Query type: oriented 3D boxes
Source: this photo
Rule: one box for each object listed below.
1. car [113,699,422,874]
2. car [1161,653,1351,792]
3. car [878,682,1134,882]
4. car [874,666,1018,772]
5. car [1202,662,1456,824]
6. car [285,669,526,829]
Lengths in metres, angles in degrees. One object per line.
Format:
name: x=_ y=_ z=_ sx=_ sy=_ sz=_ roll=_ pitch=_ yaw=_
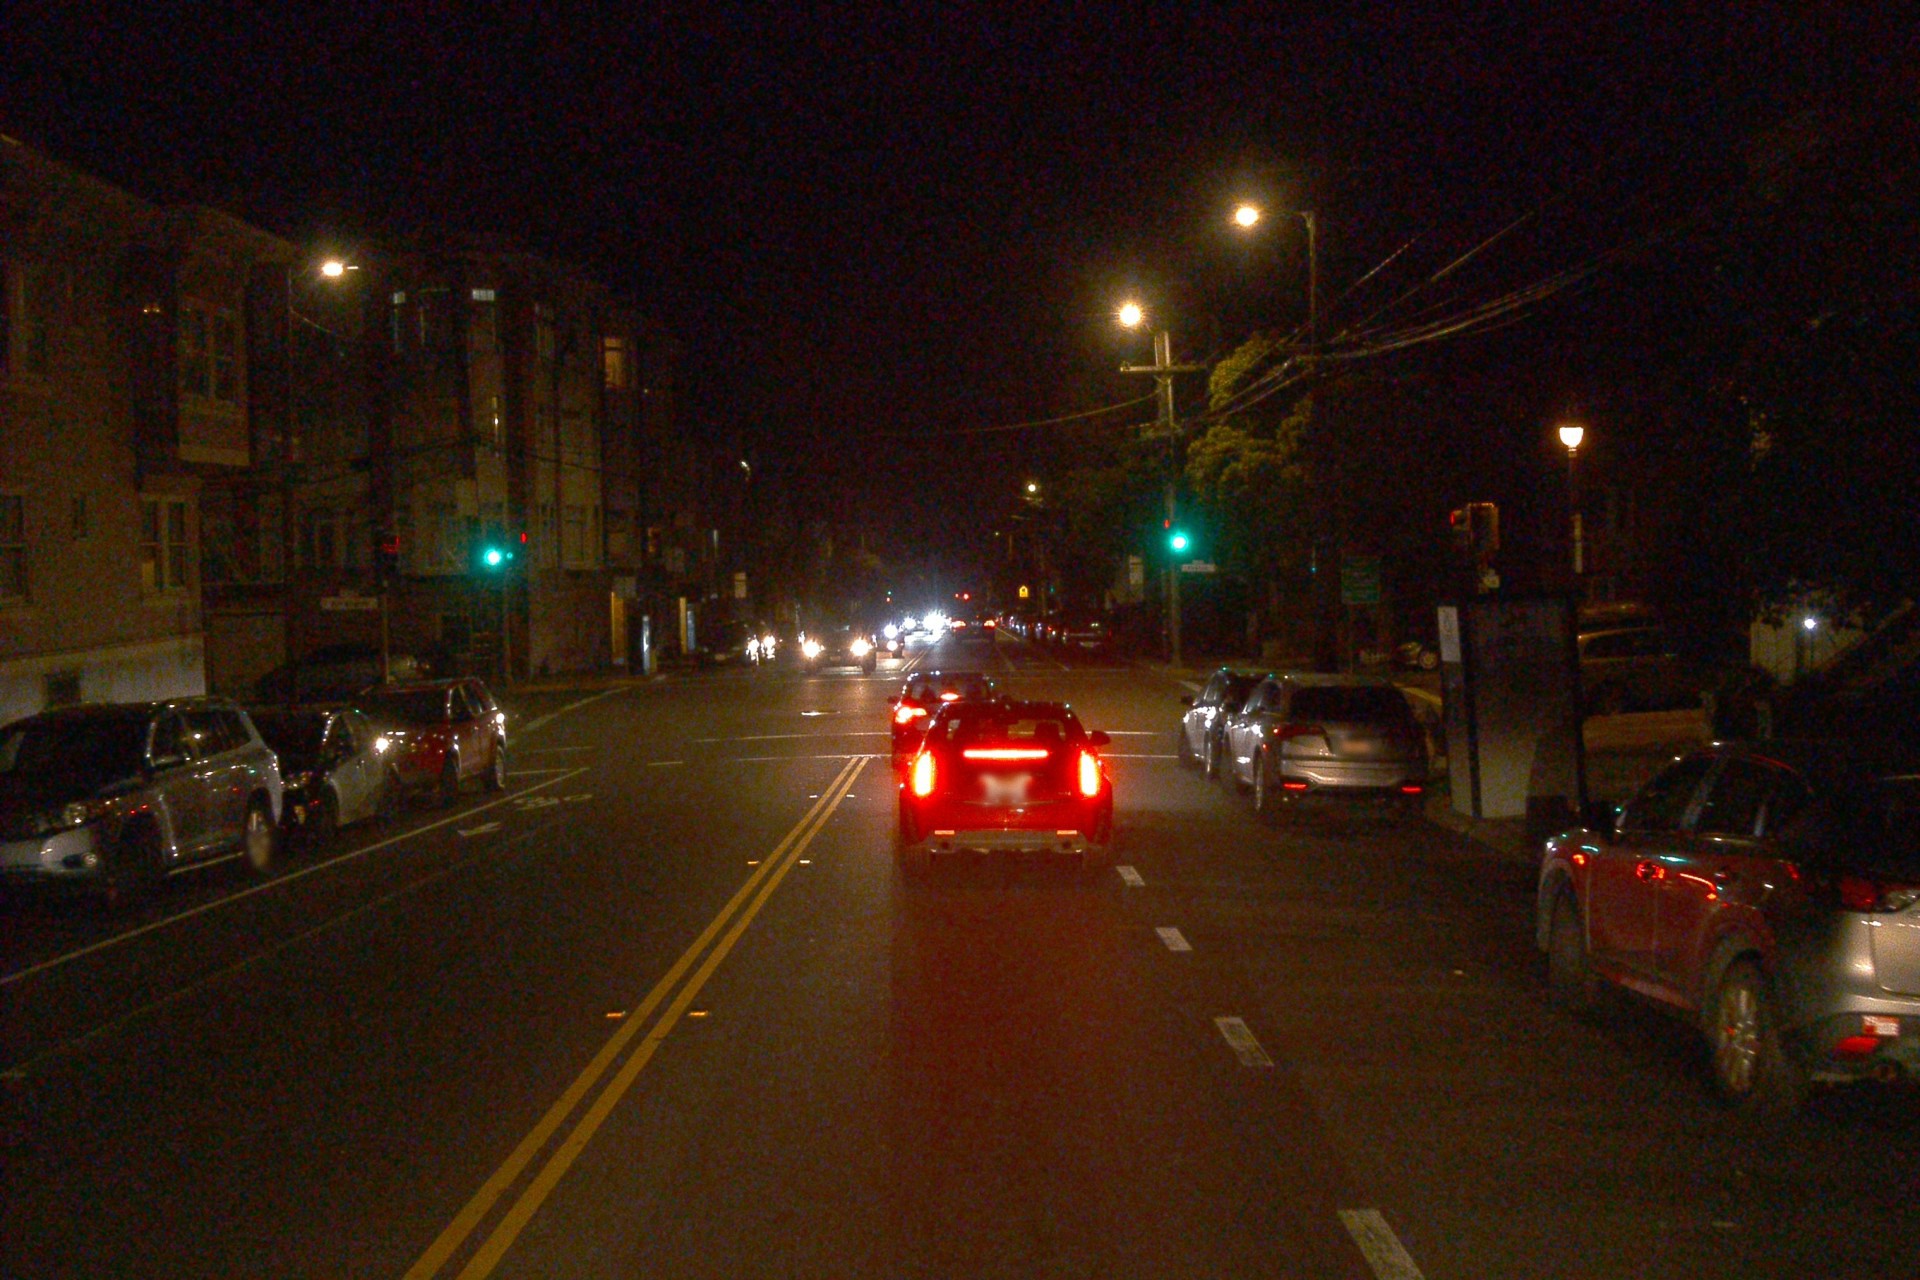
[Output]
car: x=-7.737 y=1.576 z=23.344 sx=2.053 sy=1.640 sz=4.520 roll=0 pitch=0 yaw=-1
car: x=4.264 y=1.145 z=30.196 sx=2.084 sy=1.830 sz=4.587 roll=1 pitch=0 yaw=0
car: x=0.425 y=1.196 z=18.833 sx=2.067 sy=1.490 sz=4.418 roll=1 pitch=0 yaw=1
car: x=-0.185 y=1.168 z=31.807 sx=2.071 sy=1.420 sz=4.587 roll=1 pitch=0 yaw=1
car: x=4.346 y=1.159 z=24.885 sx=2.250 sy=1.690 sz=4.768 roll=1 pitch=0 yaw=1
car: x=-7.501 y=1.408 z=28.169 sx=1.998 sy=1.910 sz=4.650 roll=1 pitch=0 yaw=1
